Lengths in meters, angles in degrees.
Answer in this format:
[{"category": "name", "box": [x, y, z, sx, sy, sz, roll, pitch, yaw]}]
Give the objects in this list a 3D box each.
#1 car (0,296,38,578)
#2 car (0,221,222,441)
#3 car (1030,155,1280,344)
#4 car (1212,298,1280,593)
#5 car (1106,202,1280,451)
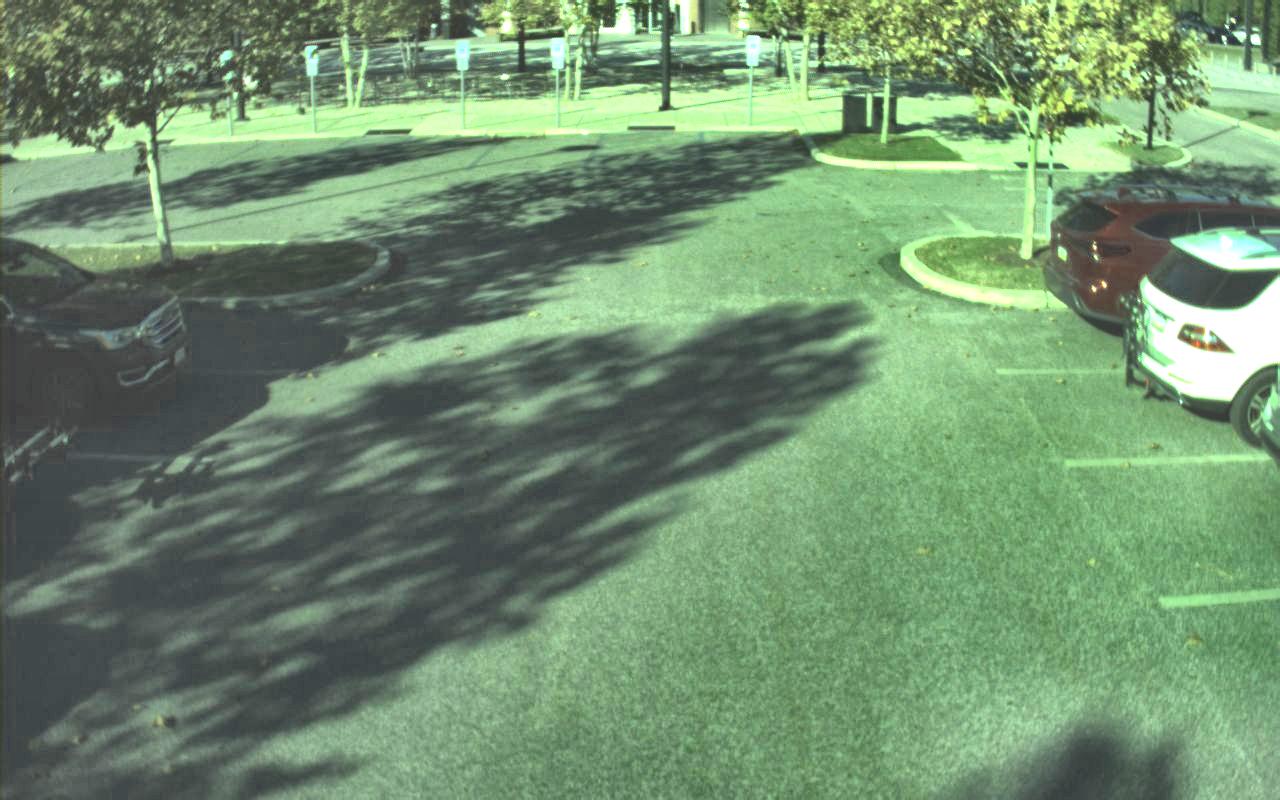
[{"category": "car", "box": [-7.611, 0.207, 8.906, 4.503, 1.688, 2.007, 2, 16, 9]}, {"category": "car", "box": [-6.808, -0.764, 11.713, 4.599, 1.675, 2.012, 1, 16, 8]}, {"category": "car", "box": [6.833, -1.740, 13.370, 4.379, 1.788, 1.966, -1, 16, 2]}, {"category": "car", "box": [6.872, 0.296, 8.196, 4.464, 1.622, 2.009, 0, 16, 4]}, {"category": "car", "box": [6.888, -0.801, 10.758, 4.482, 1.832, 1.997, -2, 16, -5]}]
